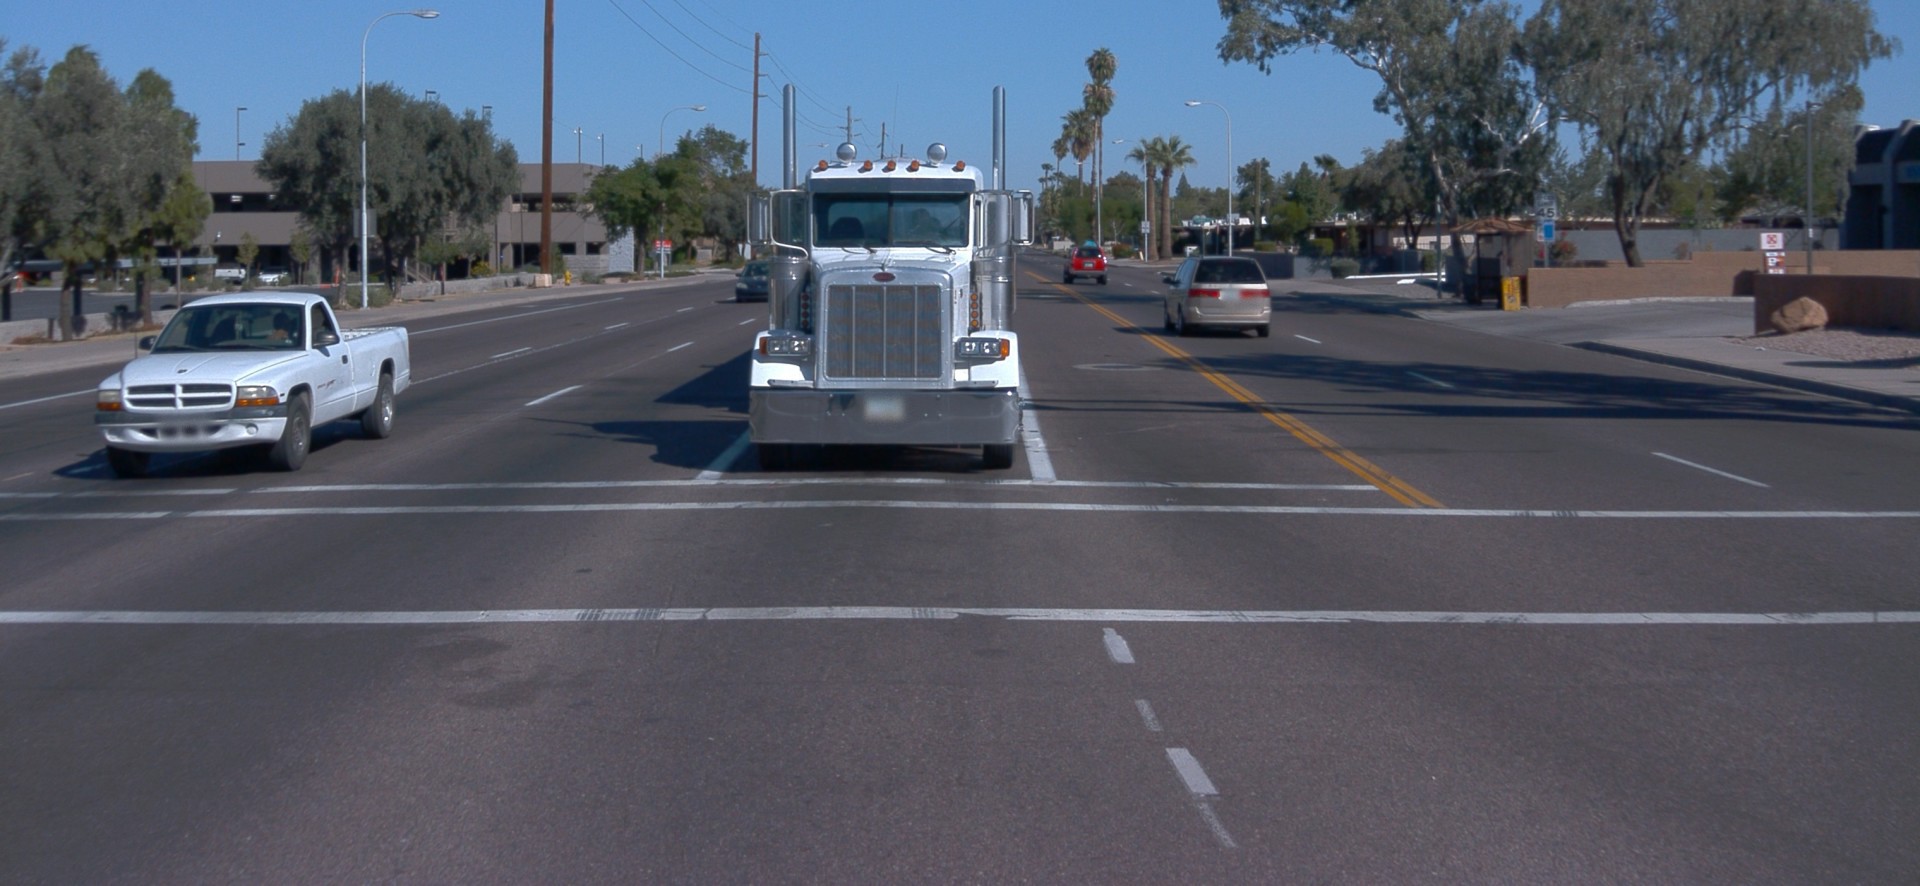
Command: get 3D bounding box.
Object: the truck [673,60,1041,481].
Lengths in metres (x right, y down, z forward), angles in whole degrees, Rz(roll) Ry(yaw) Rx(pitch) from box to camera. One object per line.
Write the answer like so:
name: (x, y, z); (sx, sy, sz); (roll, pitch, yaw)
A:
truck: (-0.934, -1.926, 22.144); (3.152, 3.597, 8.717); (0, 5, -1)

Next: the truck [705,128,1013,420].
truck: (-1.075, -2.621, 30.491); (3.510, 3.315, 13.752); (0, 5, 1)
